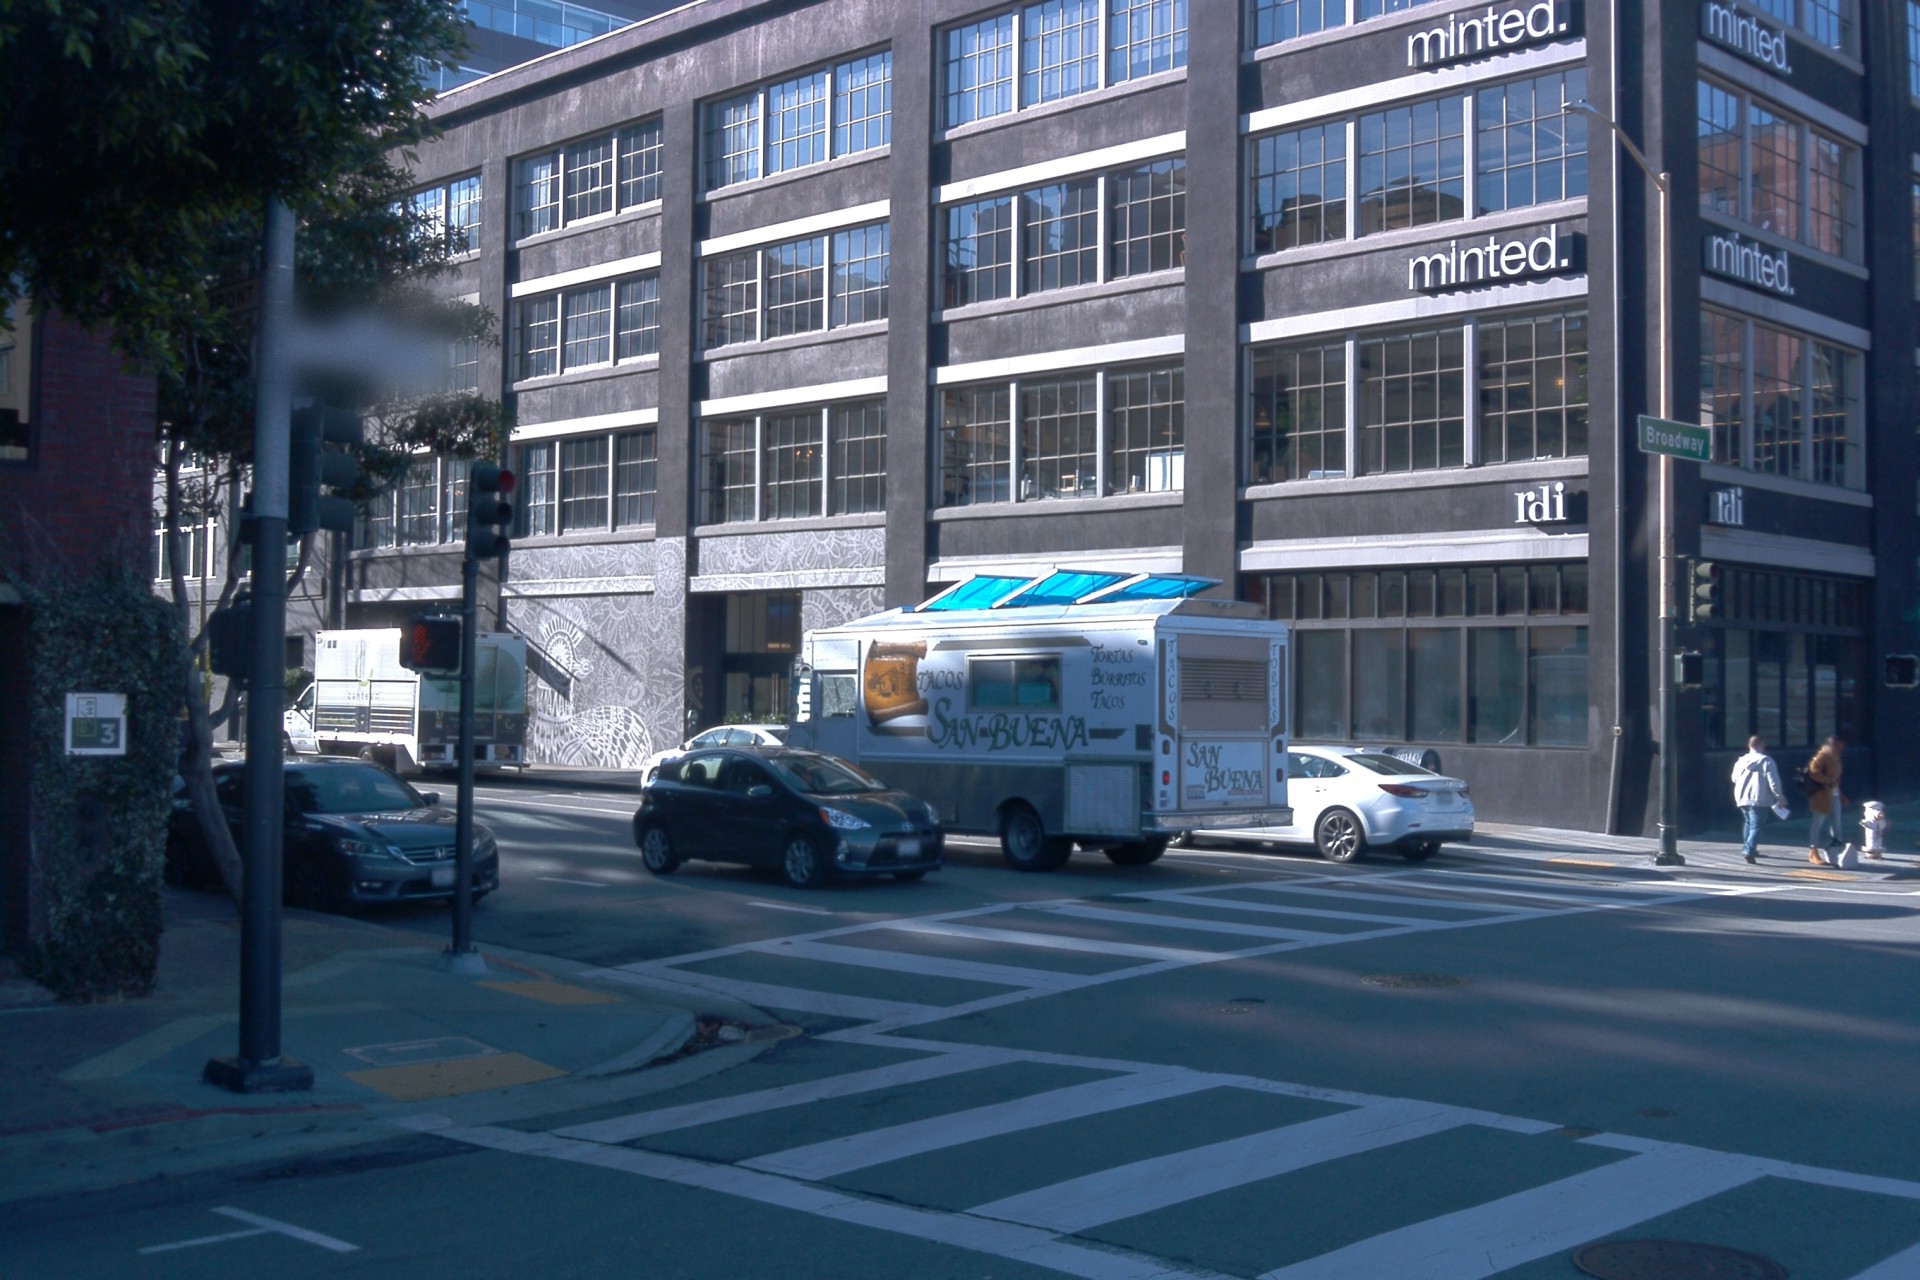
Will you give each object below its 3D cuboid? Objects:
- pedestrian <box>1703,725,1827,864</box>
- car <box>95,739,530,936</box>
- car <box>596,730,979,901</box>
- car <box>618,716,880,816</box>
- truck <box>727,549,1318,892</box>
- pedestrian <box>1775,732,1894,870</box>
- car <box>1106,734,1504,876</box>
[{"bbox_3d":[10.373,1.959,26.749,1.254,1.690,1.039,2,-1,-43],"label":"pedestrian"},{"bbox_3d":[-6.662,1.885,21.049,4.856,1.550,2.094,0,-1,44],"label":"car"},{"bbox_3d":[-1.966,1.846,22.926,2.060,1.550,4.059,2,-1,-45],"label":"car"},{"bbox_3d":[-3.688,2.117,35.829,2.124,1.480,4.495,2,-1,-45],"label":"car"},{"bbox_3d":[0.550,0.862,25.550,2.965,3.621,7.191,2,-1,-44],"label":"truck"},{"bbox_3d":[11.162,2.034,26.515,0.985,1.680,1.013,1,-1,-18],"label":"pedestrian"},{"bbox_3d":[4.472,2.100,27.451,2.162,1.510,4.830,2,-1,-44],"label":"car"}]
